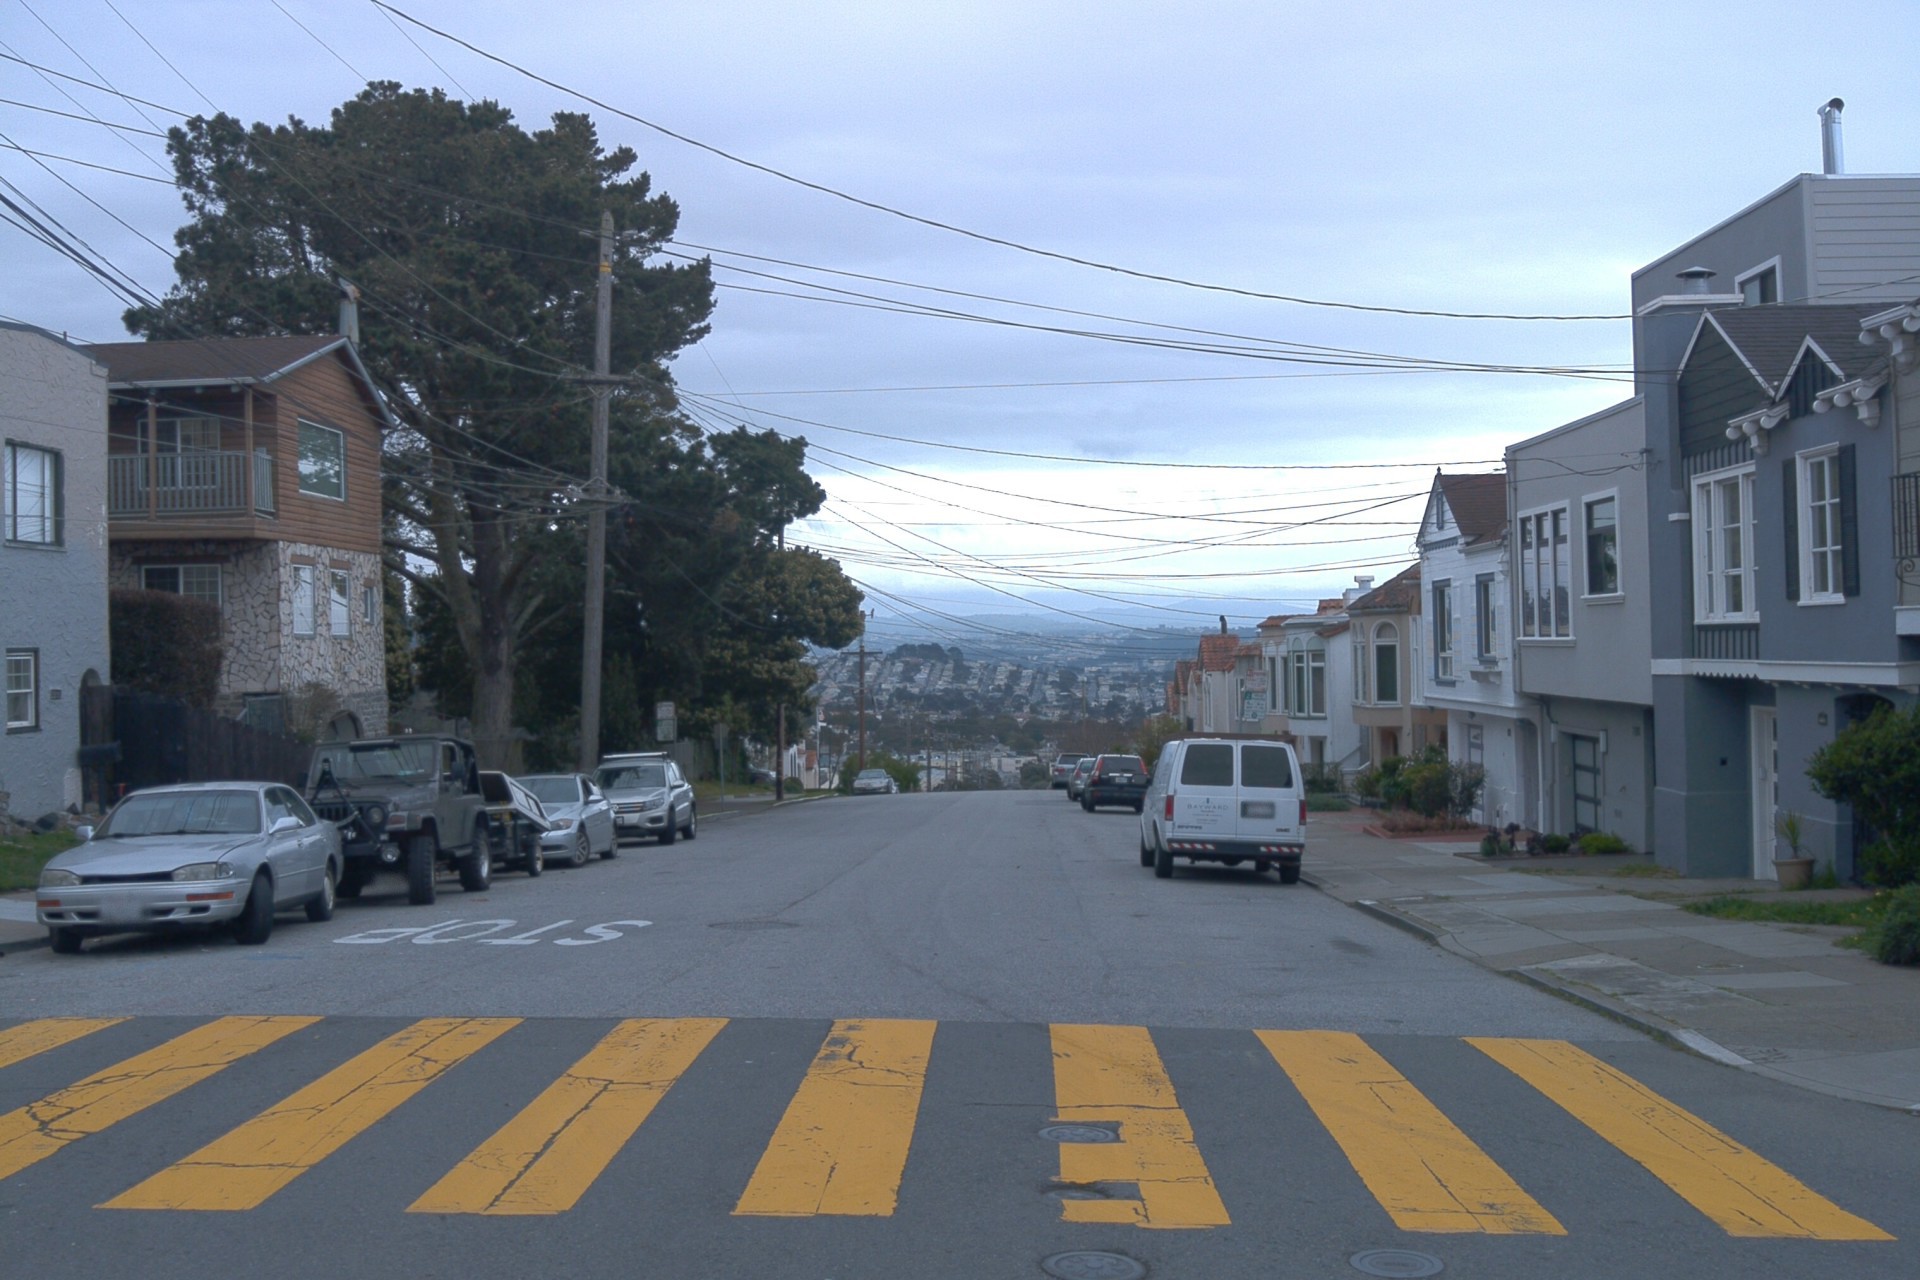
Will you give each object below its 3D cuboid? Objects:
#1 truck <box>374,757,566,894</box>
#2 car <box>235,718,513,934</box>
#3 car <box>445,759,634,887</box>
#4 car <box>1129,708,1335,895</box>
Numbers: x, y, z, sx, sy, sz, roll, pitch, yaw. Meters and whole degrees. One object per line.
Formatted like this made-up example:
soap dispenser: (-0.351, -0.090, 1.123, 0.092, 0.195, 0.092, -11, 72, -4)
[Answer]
truck: (-6.311, 2.371, 26.834, 1.696, 1.510, 2.985, 0, 0, 2)
car: (-6.421, 1.974, 23.083, 1.997, 2.030, 4.192, 0, 0, -1)
car: (-6.207, 2.677, 30.932, 1.979, 1.530, 4.513, 0, 0, -1)
car: (3.640, 2.123, 28.504, 2.330, 2.195, 4.904, 0, 0, 2)
